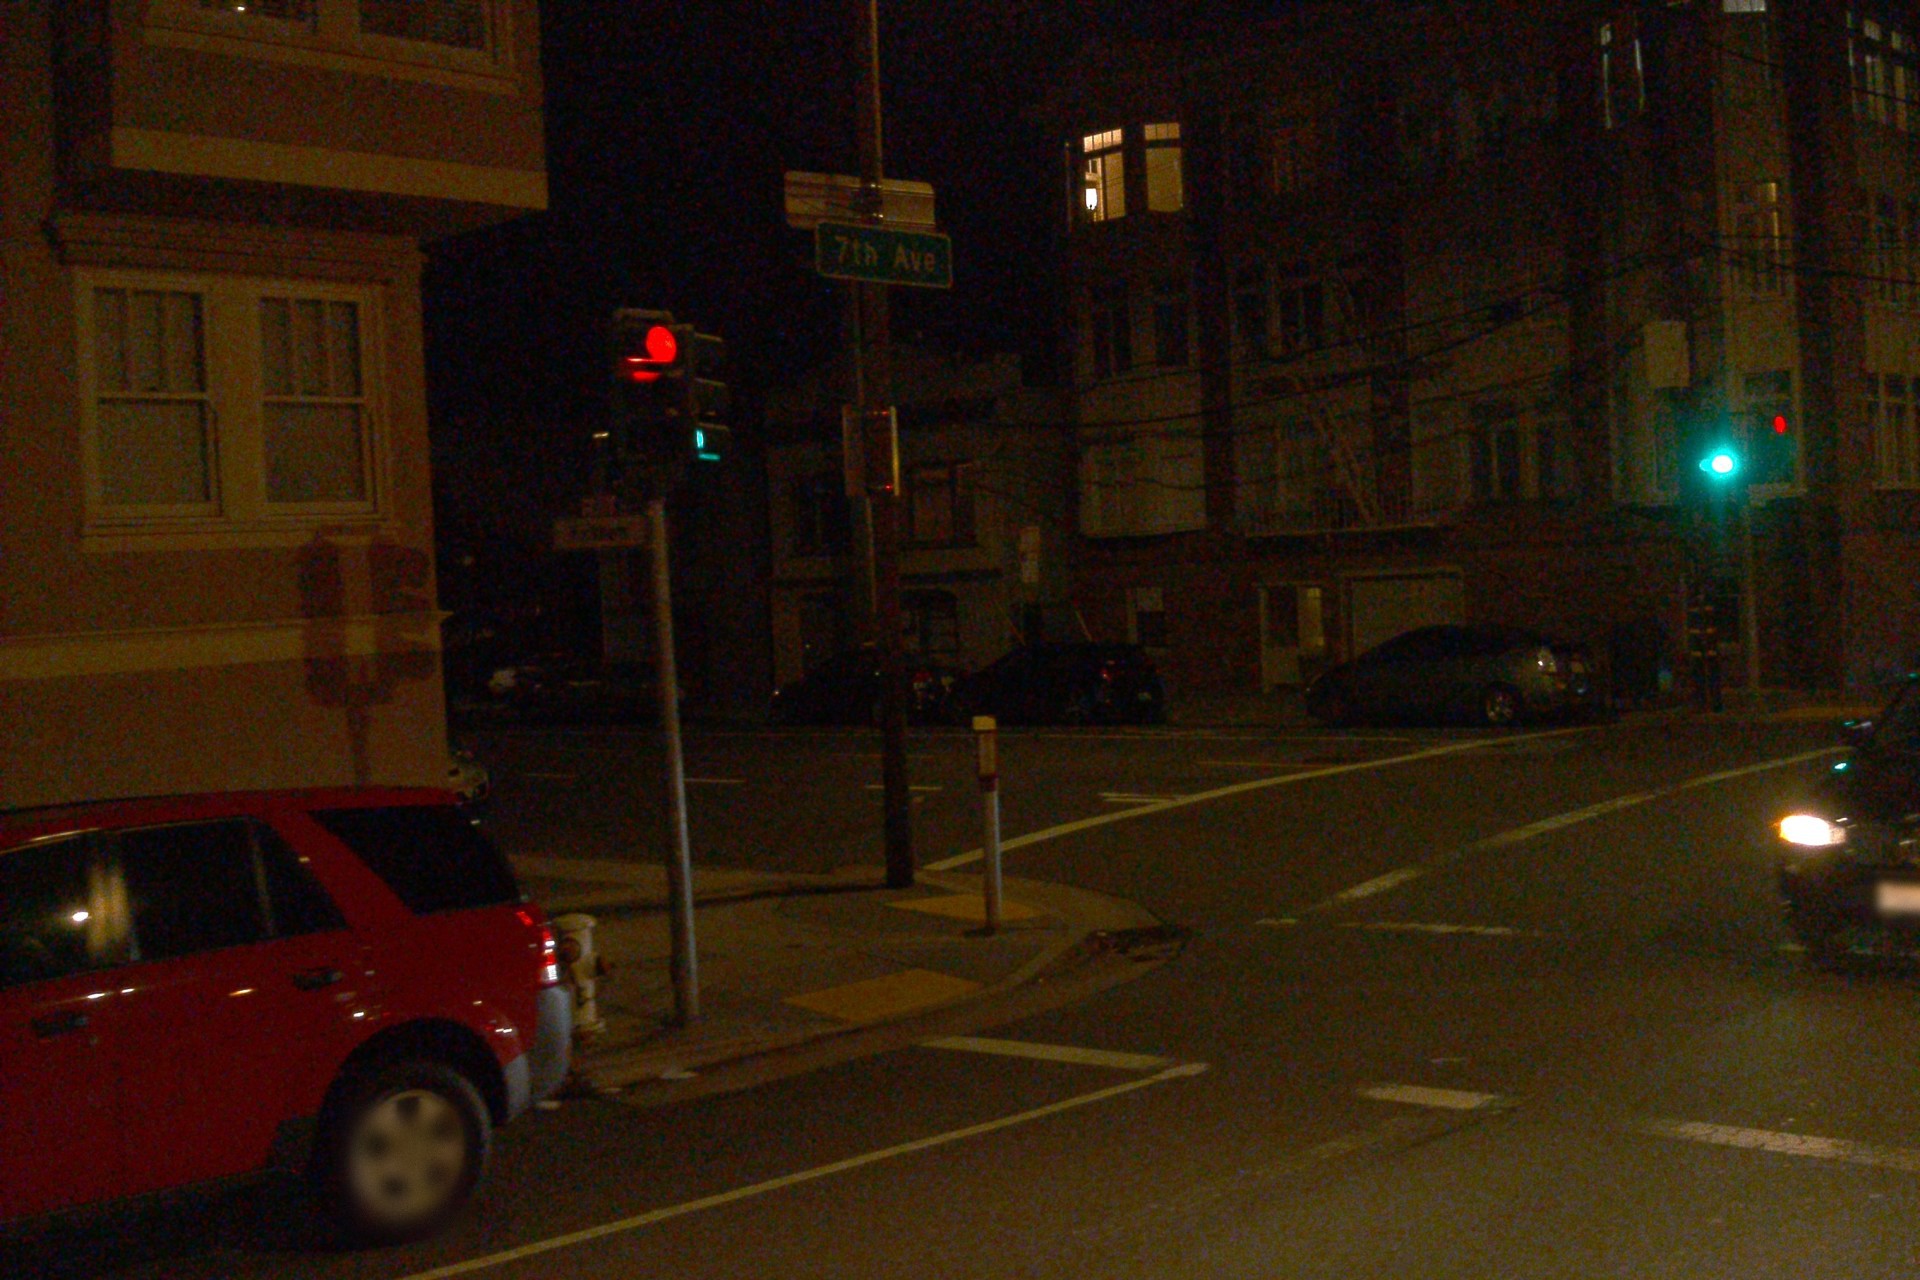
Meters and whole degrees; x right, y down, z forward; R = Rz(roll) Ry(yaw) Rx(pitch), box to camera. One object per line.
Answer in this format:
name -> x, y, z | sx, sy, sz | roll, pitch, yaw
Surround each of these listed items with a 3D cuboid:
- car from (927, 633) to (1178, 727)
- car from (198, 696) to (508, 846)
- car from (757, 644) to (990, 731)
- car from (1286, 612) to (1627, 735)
car -> 1.541, 0.638, 35.425 | 4.150, 1.470, 1.786 | 1, 1, 43
car -> -7.740, 1.578, 26.054 | 4.123, 1.560, 1.981 | 1, 1, 44
car -> -1.669, 0.841, 38.696 | 4.298, 1.460, 1.941 | 1, 1, 44
car -> 7.139, 0.420, 29.891 | 1.933, 1.630, 4.458 | -1, 1, -44
